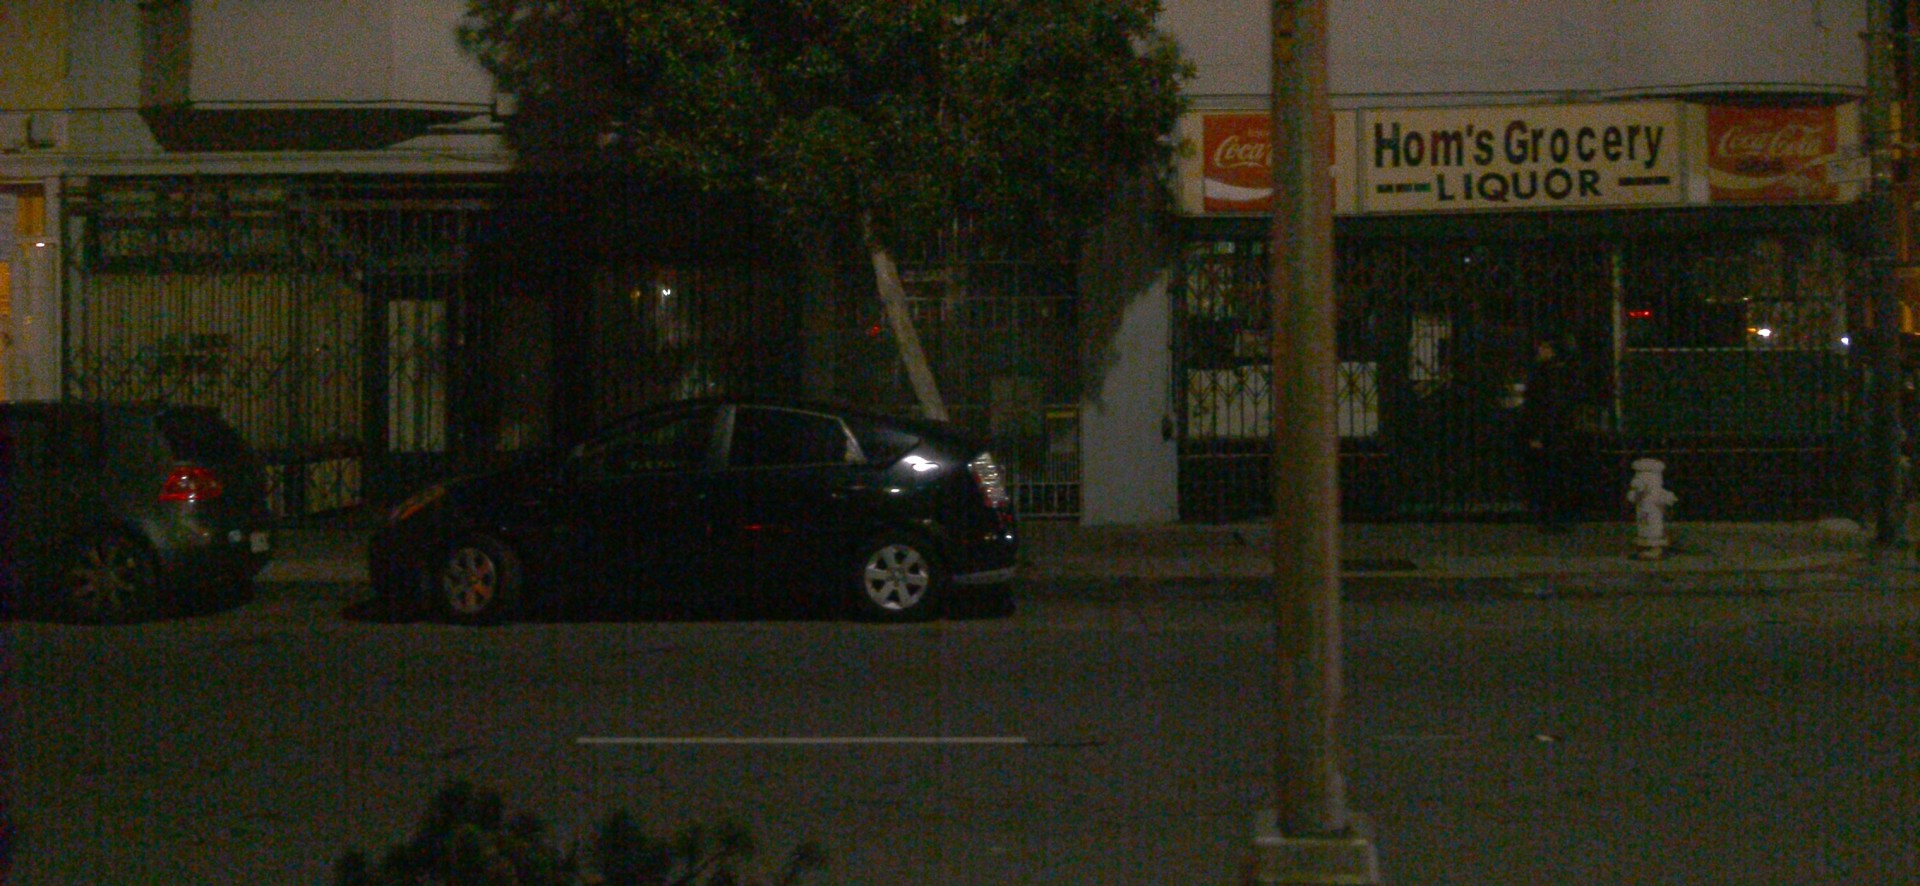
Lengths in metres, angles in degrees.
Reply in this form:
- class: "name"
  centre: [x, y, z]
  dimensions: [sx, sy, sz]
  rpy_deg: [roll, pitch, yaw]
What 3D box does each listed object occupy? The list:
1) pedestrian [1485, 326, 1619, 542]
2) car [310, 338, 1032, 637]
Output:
- class: "pedestrian"
  centre: [4.854, -0.097, 17.027]
  dimensions: [0.820, 1.688, 0.880]
  rpy_deg: [0, 2, -3]
- class: "car"
  centre: [-1.851, 0.234, 14.152]
  dimensions: [4.570, 1.776, 1.947]
  rpy_deg: [0, 4, -2]
